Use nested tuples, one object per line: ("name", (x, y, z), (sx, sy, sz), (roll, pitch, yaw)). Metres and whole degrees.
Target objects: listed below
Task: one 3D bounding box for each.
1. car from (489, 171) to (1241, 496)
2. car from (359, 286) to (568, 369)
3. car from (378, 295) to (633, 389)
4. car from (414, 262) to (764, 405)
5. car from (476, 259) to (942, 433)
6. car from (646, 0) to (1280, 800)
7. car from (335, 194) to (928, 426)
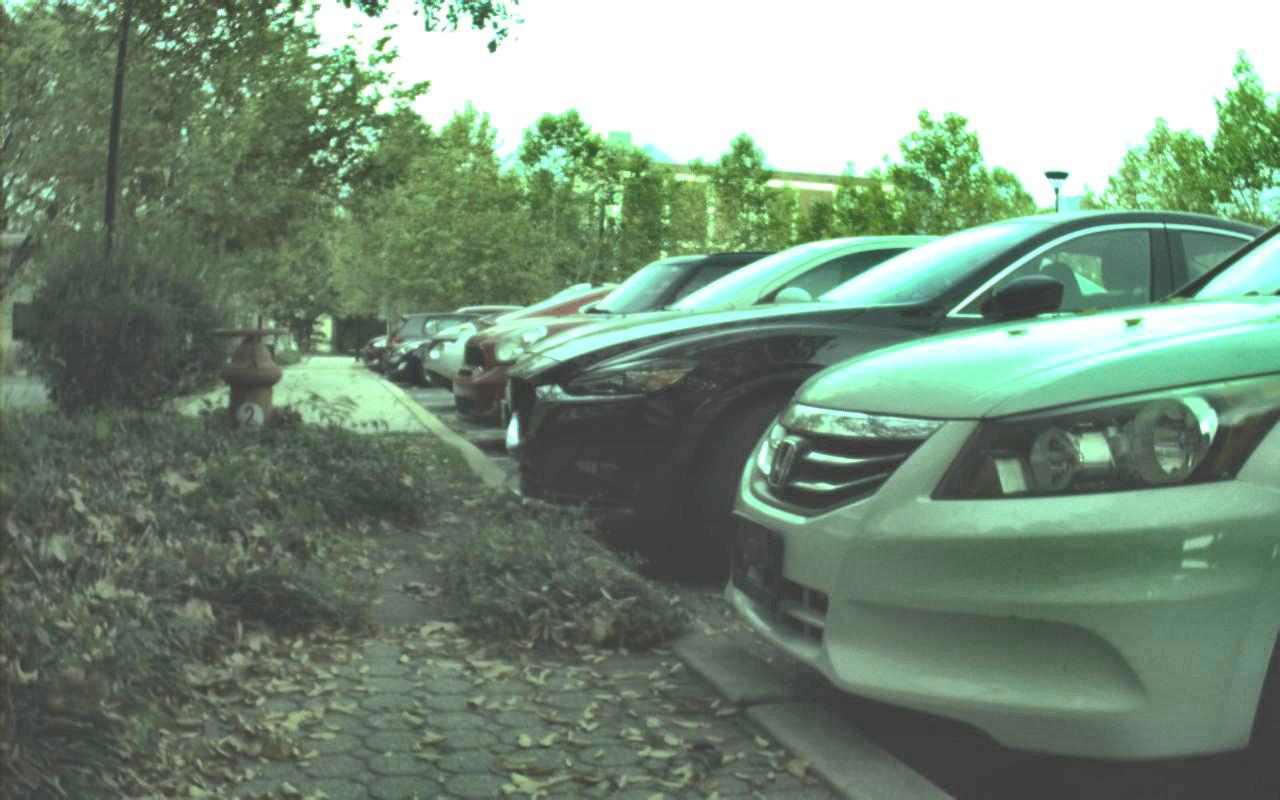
("car", (1.362, -0.359, 7.718), (4.500, 1.661, 2.030), (0, 1, -9))
("car", (-4.021, -1.576, 28.130), (4.477, 1.750, 1.956), (0, 1, -19))
("car", (-2.585, -1.050, 23.421), (4.569, 1.655, 1.966), (0, 1, -14))
("car", (-0.721, -0.797, 15.826), (4.165, 1.647, 1.870), (0, 1, -12))
("car", (0.689, -0.529, 13.340), (4.631, 1.637, 1.973), (0, 1, -15))
("car", (2.348, 0.028, 2.889), (4.370, 1.604, 1.969), (0, 1, -11))
("car", (-0.151, -0.655, 10.257), (4.561, 1.633, 2.042), (0, 1, -17))
